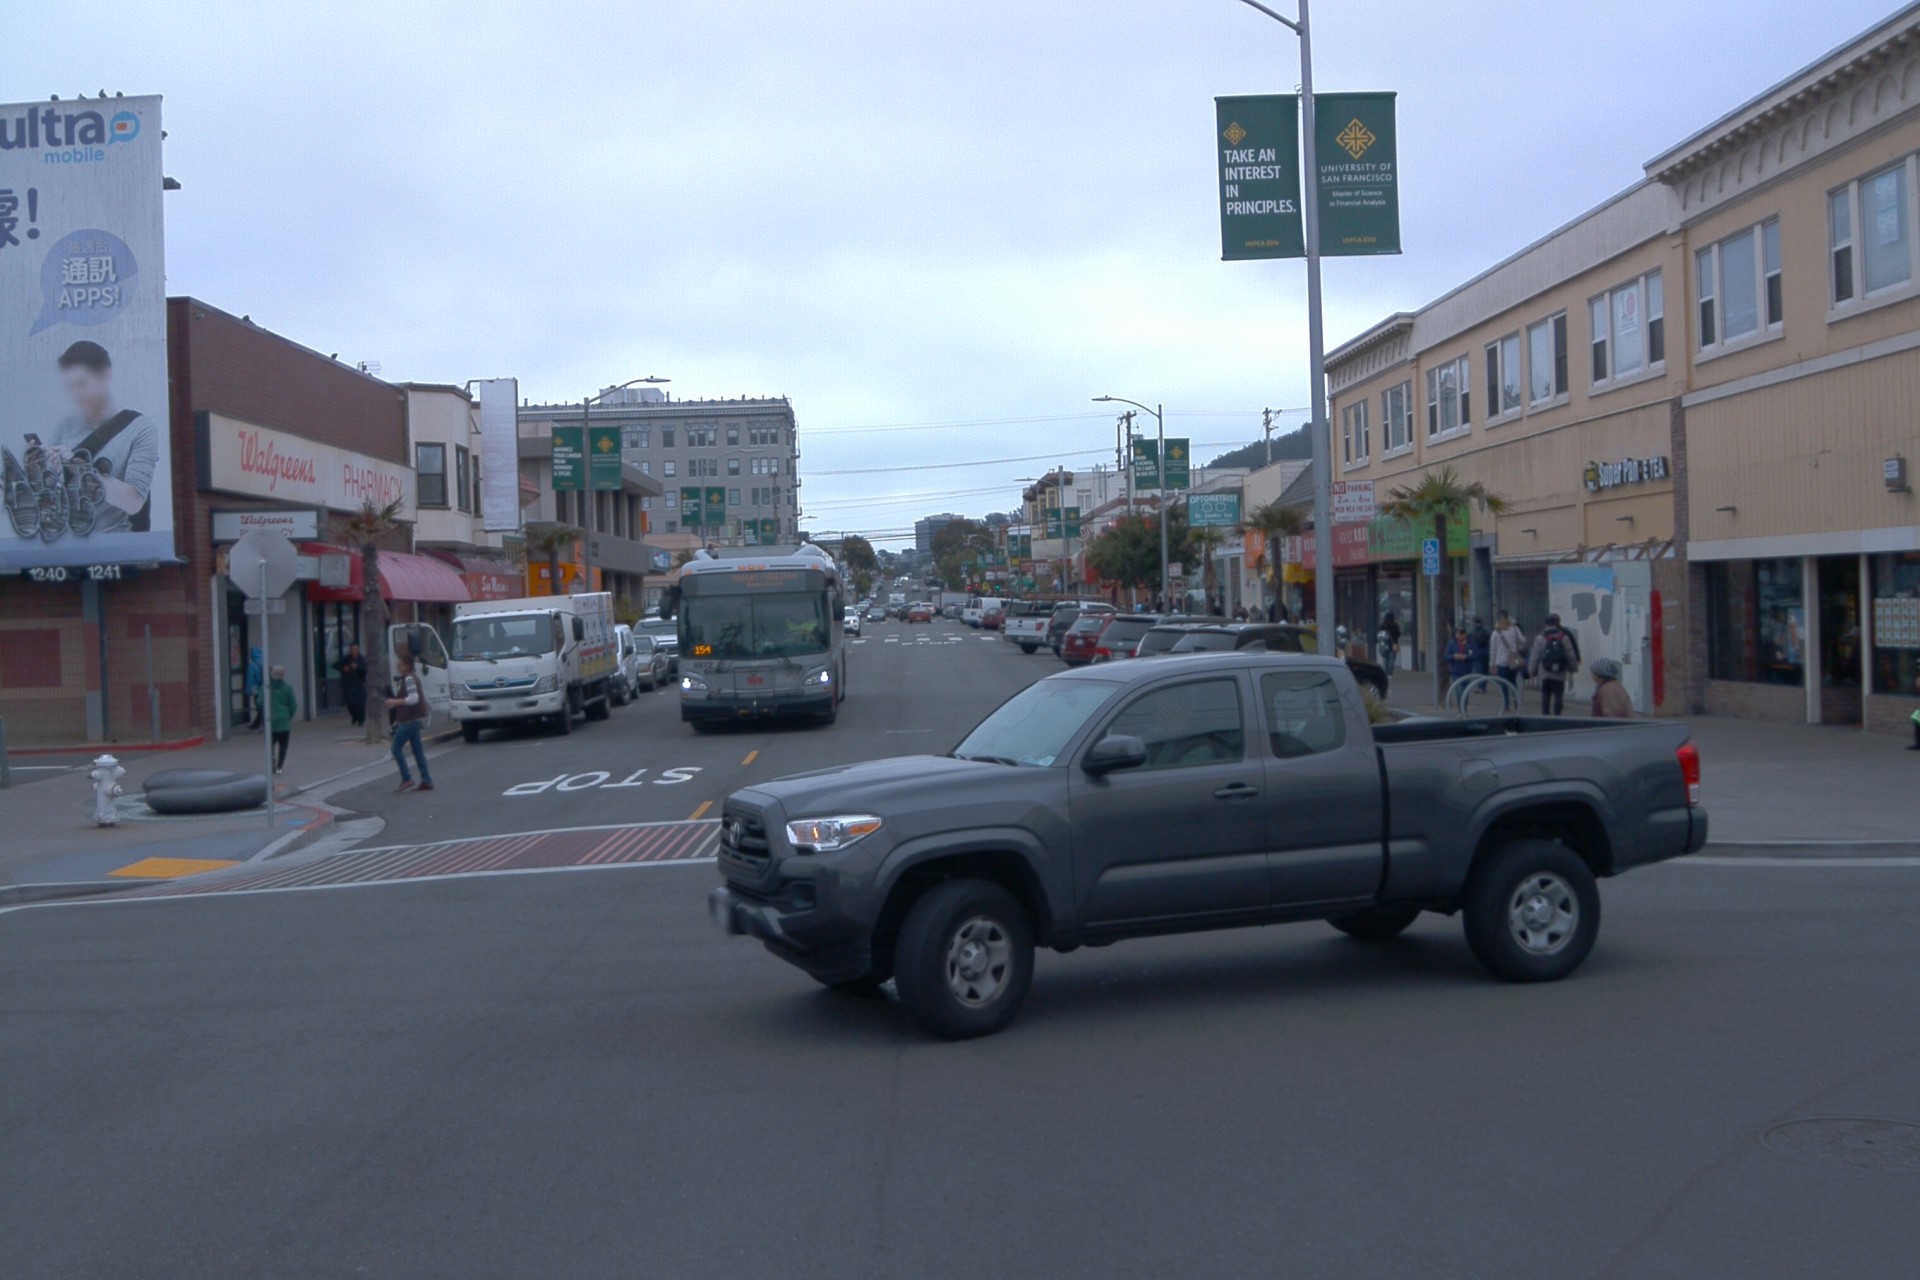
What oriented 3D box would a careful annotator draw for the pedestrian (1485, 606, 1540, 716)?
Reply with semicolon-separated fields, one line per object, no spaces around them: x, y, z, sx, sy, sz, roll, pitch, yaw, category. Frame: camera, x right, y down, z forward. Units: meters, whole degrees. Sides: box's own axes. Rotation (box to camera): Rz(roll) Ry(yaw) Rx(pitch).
9.307;0.337;34.670;0.711;1.824;0.916;0;1;2;pedestrian

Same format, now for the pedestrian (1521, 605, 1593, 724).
9.041;0.357;31.173;0.925;1.770;0.948;0;1;9;pedestrian

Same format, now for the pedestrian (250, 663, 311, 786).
-9.905;1.207;29.956;0.765;1.713;1.106;-1;1;-21;pedestrian

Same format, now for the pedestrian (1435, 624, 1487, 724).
8.150;0.549;33.474;0.748;1.598;0.777;0;1;8;pedestrian

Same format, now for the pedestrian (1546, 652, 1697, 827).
5.932;0.865;18.441;1.064;1.477;0.834;-1;1;-38;pedestrian

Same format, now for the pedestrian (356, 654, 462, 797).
-7.241;1.109;27.088;1.261;1.820;0.885;0;1;-9;pedestrian

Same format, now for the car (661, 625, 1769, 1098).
1.345;0.955;10.879;5.456;2.008;2.068;-1;1;-20;car

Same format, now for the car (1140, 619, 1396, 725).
5.563;0.516;36.897;4.510;1.740;2.044;-1;1;-39;car
